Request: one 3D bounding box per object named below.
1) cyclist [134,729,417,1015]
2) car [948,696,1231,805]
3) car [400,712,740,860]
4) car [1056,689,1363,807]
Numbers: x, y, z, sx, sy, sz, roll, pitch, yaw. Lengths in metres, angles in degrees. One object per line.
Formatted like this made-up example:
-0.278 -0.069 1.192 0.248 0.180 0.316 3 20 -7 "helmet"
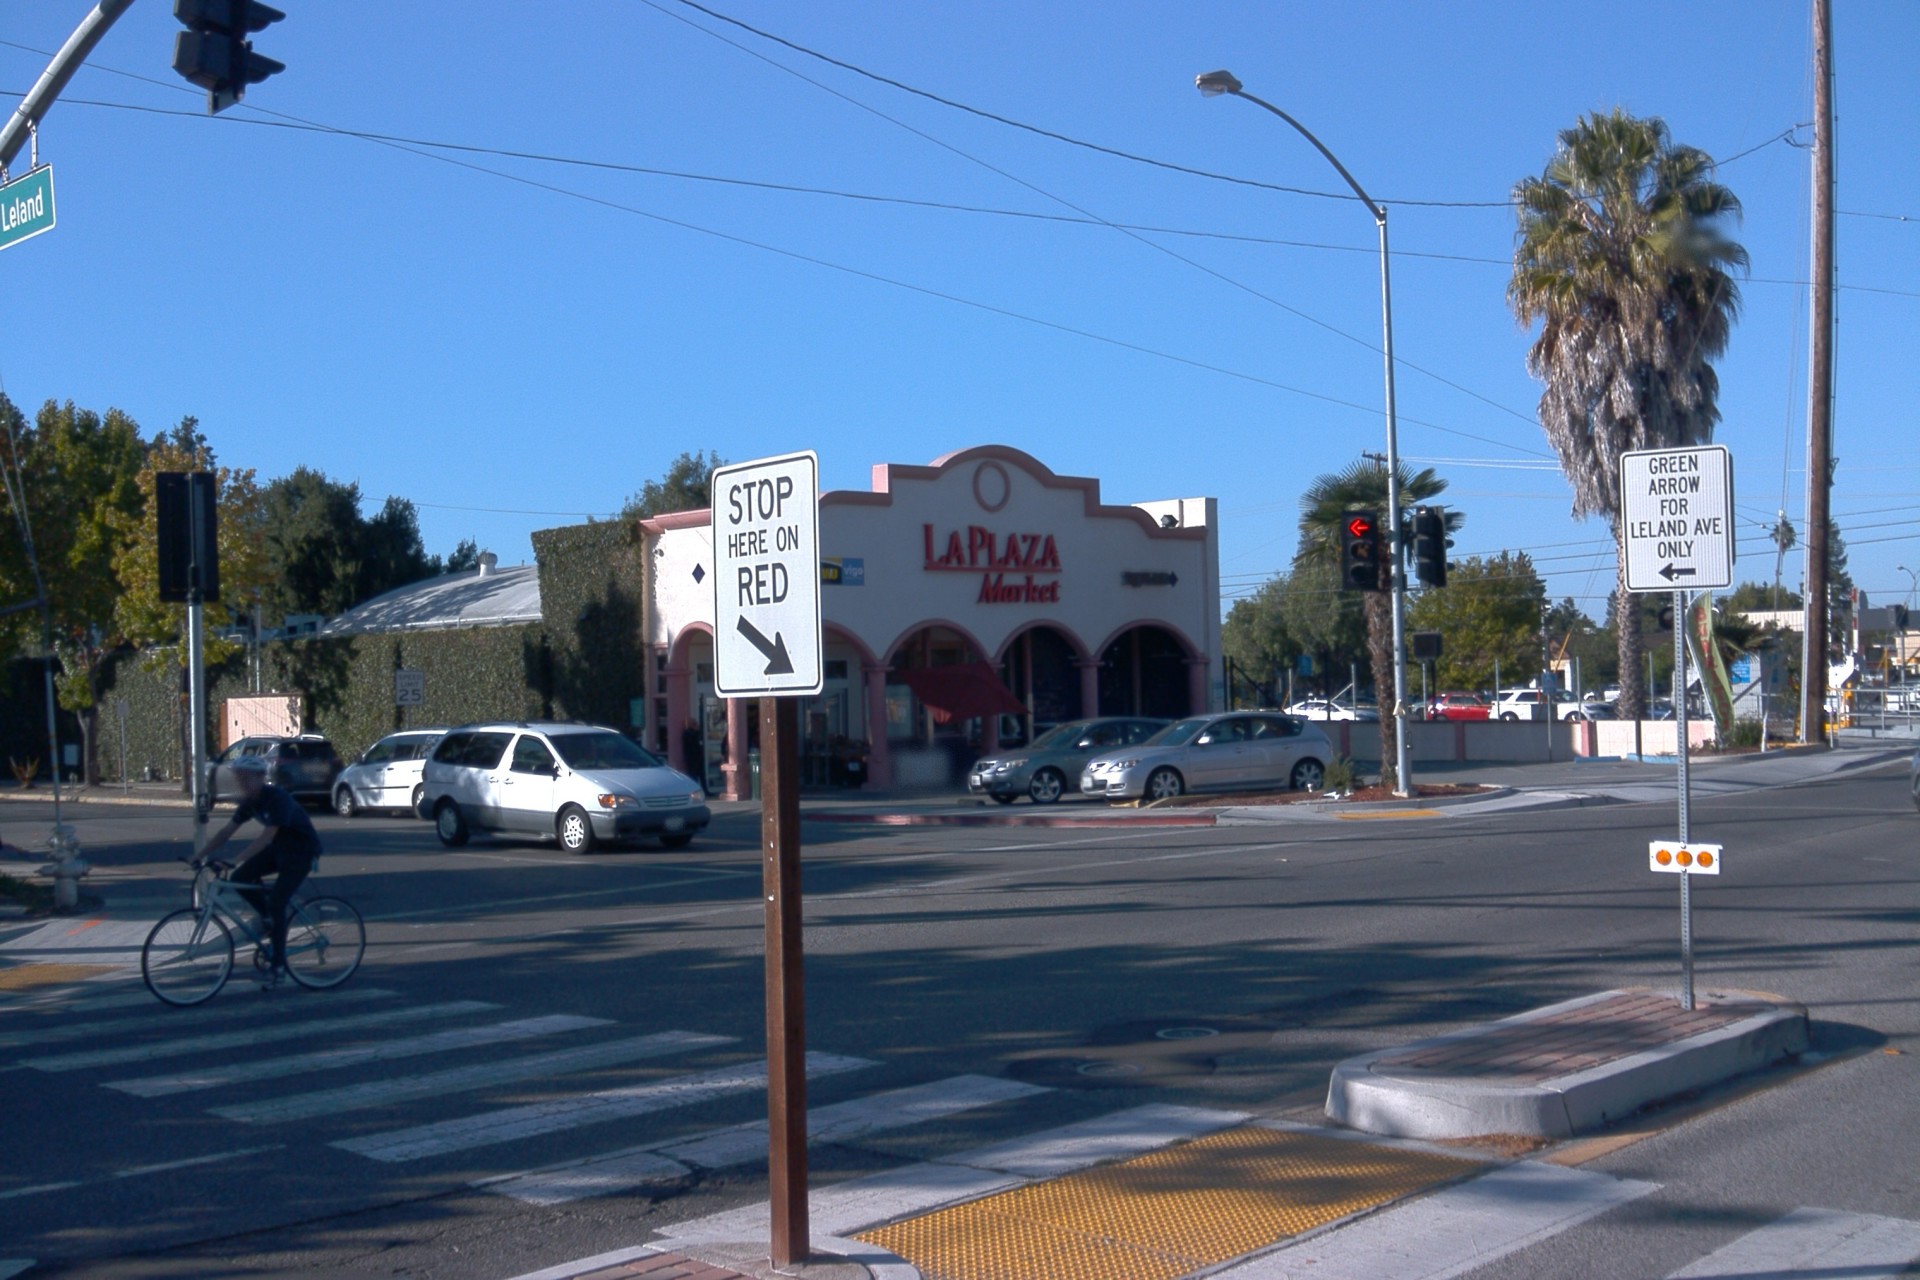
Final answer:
-4.865 1.597 14.858 0.698 1.860 1.802 0 -1 42 "cyclist"
2.288 1.891 36.544 4.565 1.760 2.047 0 0 -28 "car"
-5.452 1.922 28.625 4.949 1.710 2.120 0 -1 44 "car"
4.107 1.723 34.199 4.646 1.780 2.014 0 0 -23 "car"
